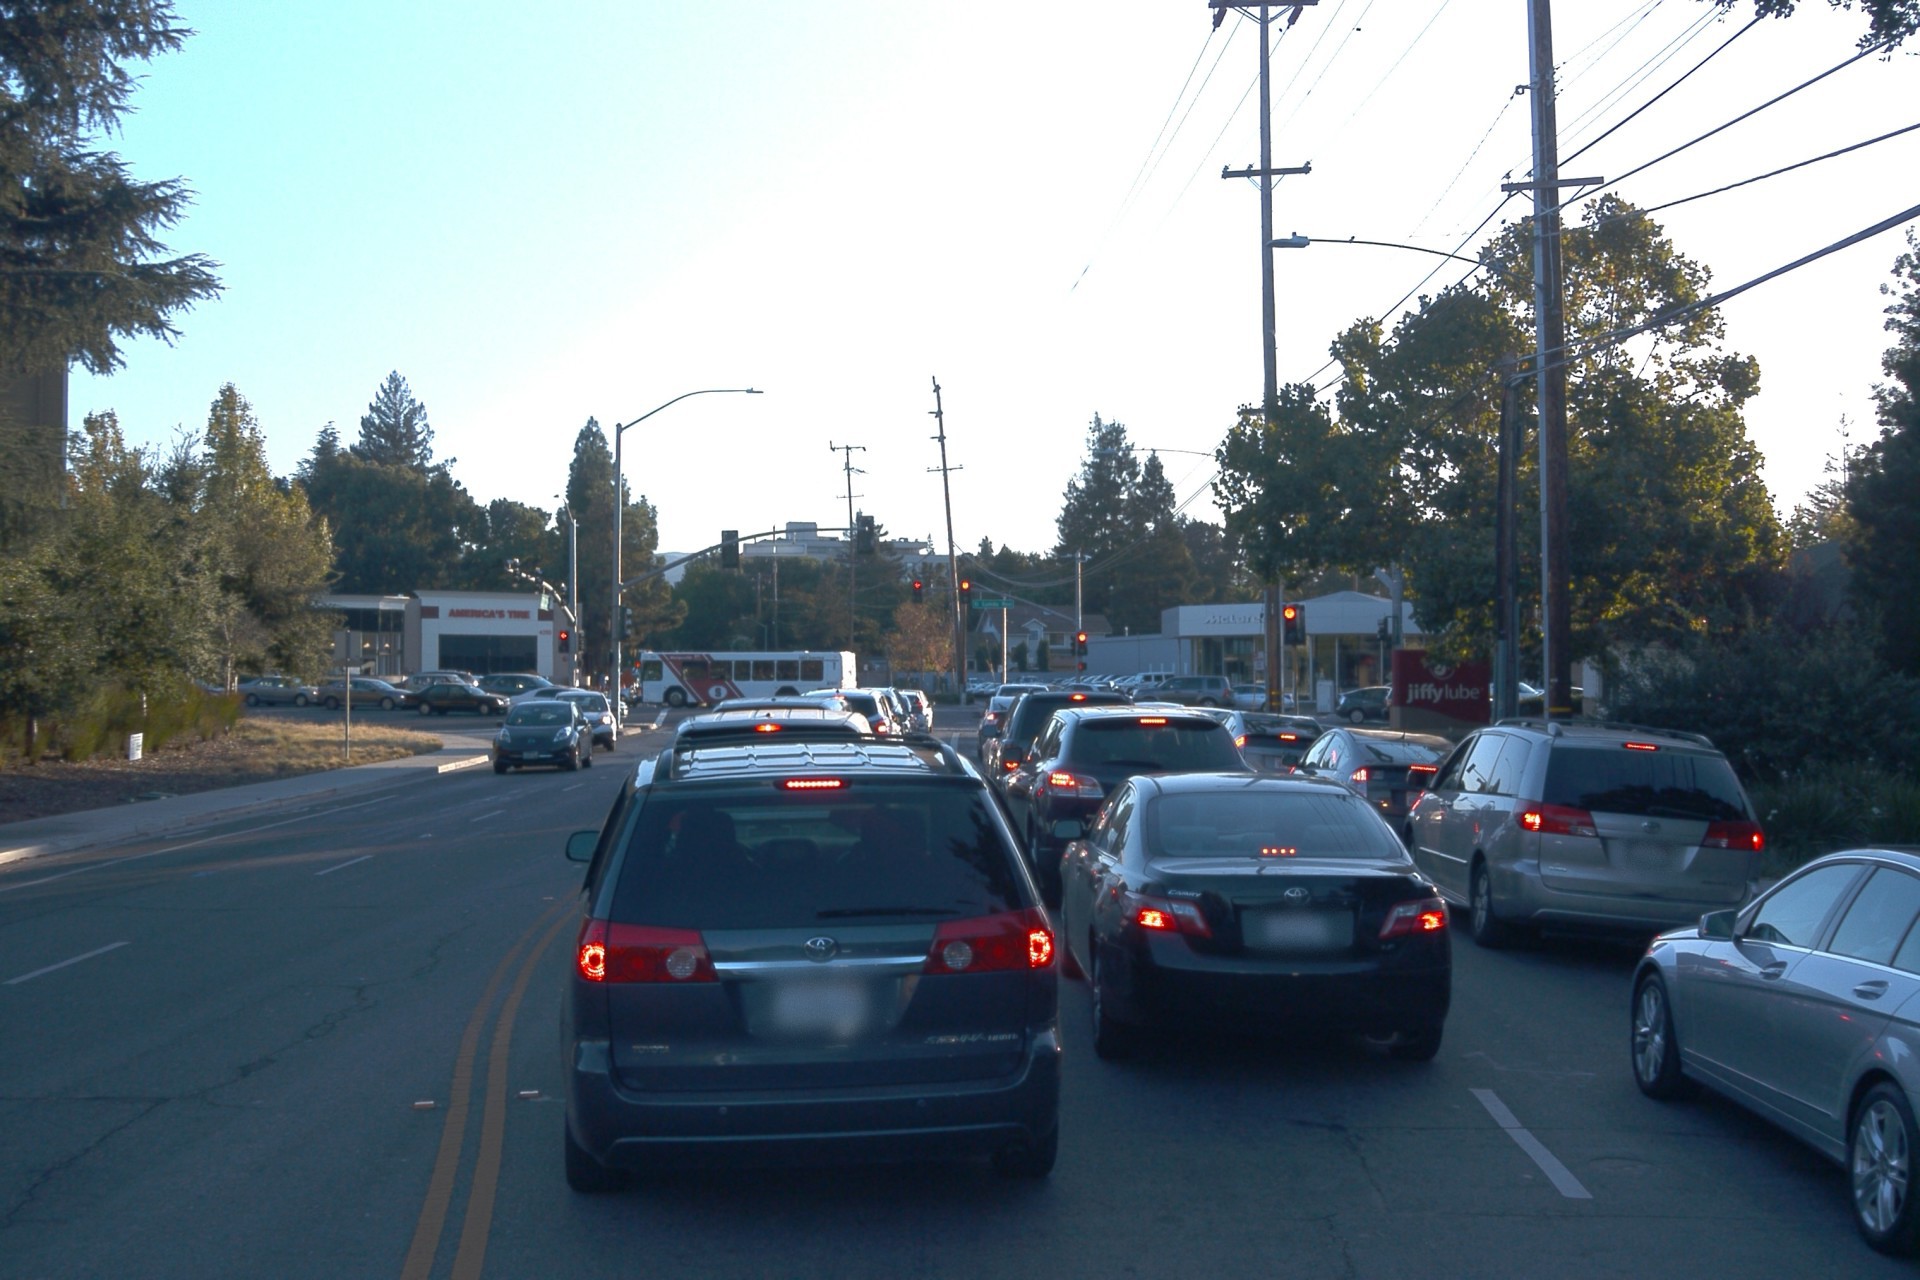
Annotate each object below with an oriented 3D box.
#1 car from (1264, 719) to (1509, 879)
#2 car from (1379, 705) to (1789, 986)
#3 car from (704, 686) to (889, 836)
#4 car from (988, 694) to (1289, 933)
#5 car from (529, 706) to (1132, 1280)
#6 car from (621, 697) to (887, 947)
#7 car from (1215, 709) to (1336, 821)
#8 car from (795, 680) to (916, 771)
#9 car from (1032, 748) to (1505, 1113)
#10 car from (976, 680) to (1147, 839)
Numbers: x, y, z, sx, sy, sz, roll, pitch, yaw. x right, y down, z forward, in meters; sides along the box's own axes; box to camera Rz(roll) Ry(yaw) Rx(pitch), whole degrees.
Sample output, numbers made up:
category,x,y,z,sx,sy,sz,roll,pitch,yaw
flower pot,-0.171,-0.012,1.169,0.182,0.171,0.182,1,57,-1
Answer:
category,x,y,z,sx,sy,sz,roll,pitch,yaw
car,4.676,1.711,23.272,1.785,1.510,4.026,0,0,-2
car,4.903,1.525,17.100,2.061,1.850,4.903,0,0,2
car,-1.862,1.368,24.681,1.760,1.570,3.956,0,0,2
car,1.458,1.439,18.797,1.992,1.810,4.553,0,0,-5
car,-0.849,1.304,9.914,2.102,1.830,5.461,0,0,-9
car,-1.481,1.301,16.199,1.812,1.620,4.042,0,0,-2
car,4.670,1.825,30.934,1.418,1.490,3.138,0,0,2
car,-1.660,1.361,33.817,1.709,1.350,3.337,0,0,2
car,1.529,1.479,11.982,1.915,1.490,4.528,0,0,-2
car,1.186,1.419,25.823,1.759,1.770,3.957,0,0,-3
